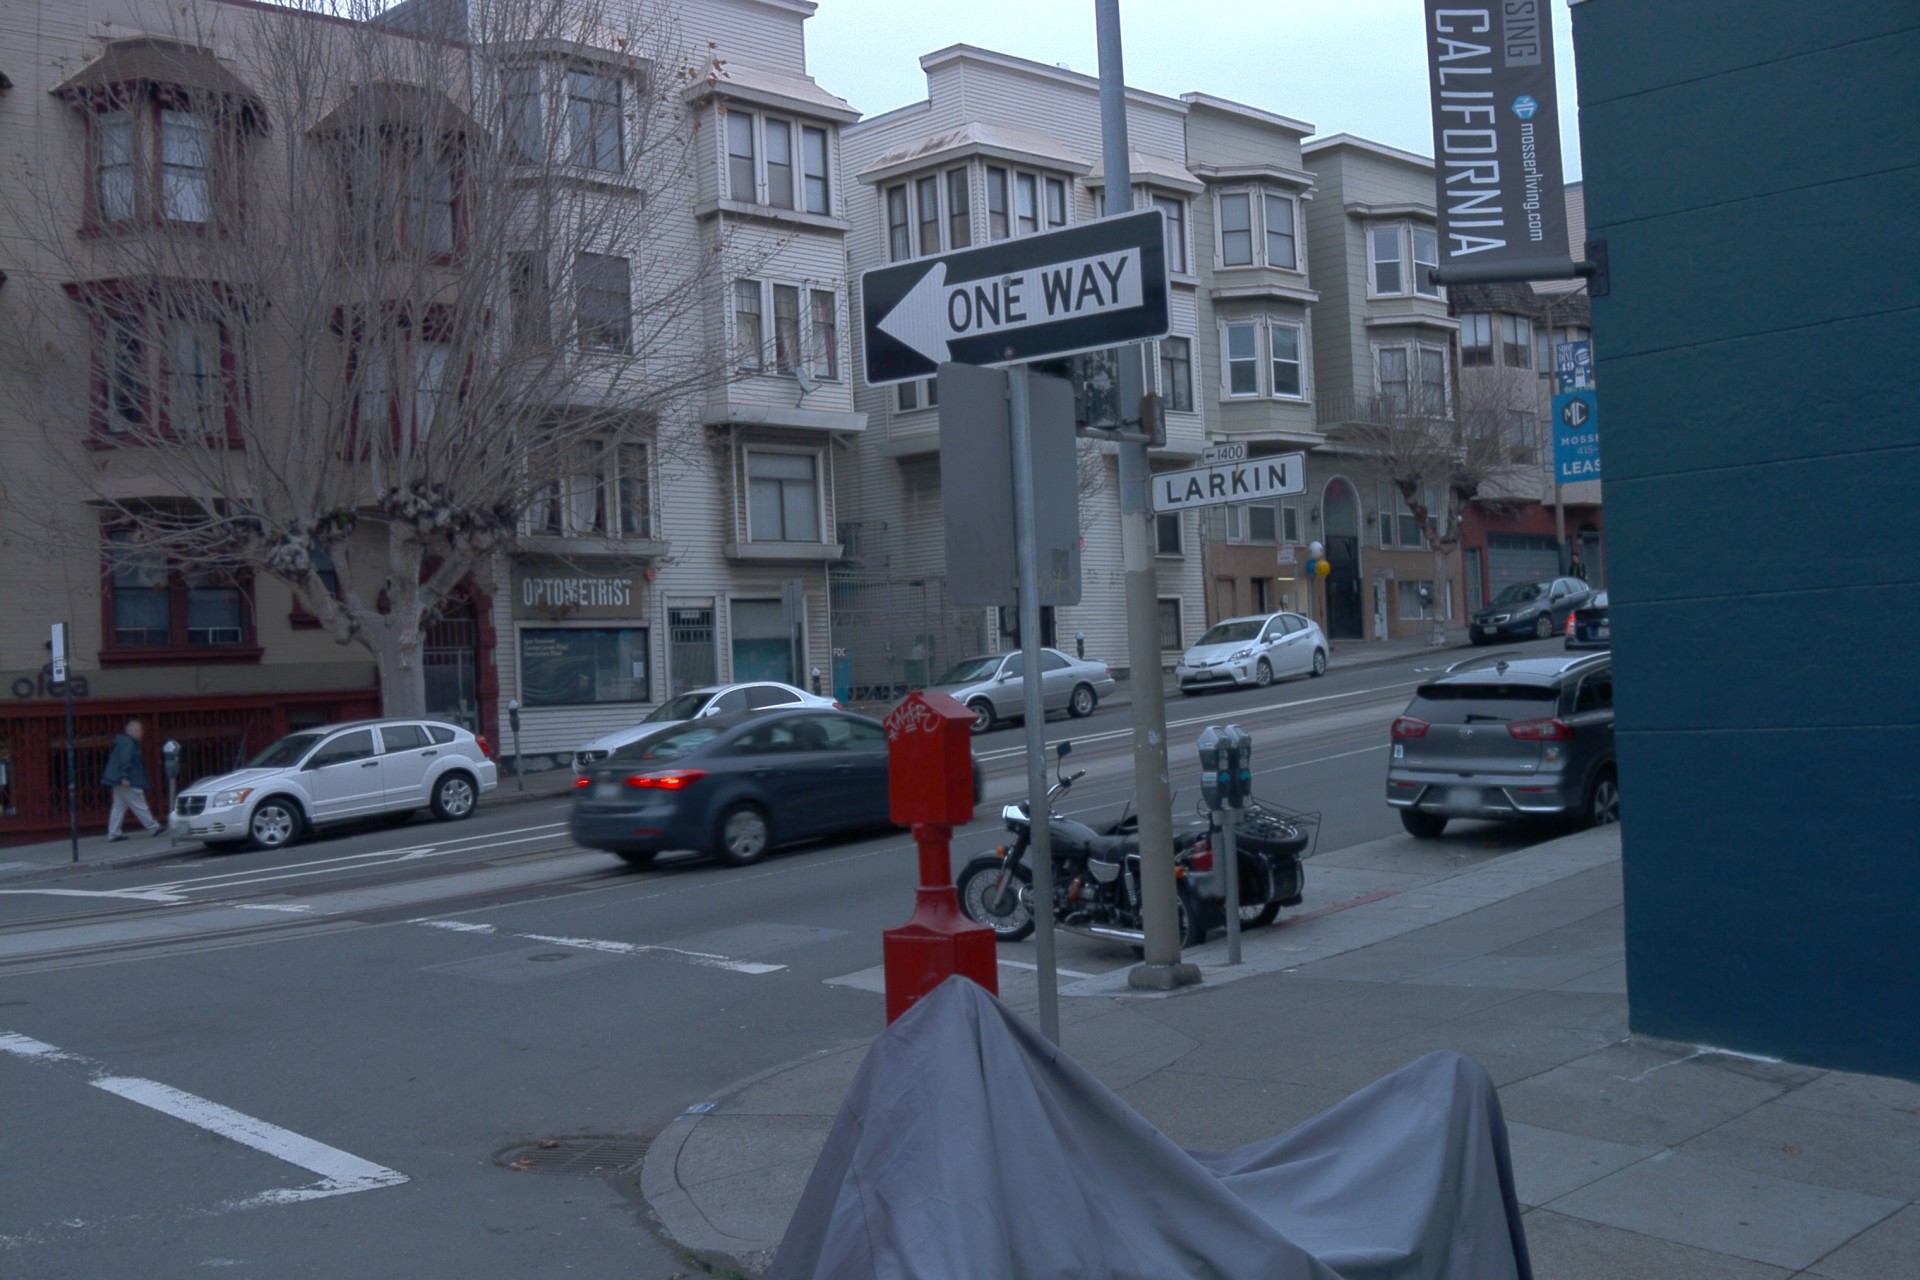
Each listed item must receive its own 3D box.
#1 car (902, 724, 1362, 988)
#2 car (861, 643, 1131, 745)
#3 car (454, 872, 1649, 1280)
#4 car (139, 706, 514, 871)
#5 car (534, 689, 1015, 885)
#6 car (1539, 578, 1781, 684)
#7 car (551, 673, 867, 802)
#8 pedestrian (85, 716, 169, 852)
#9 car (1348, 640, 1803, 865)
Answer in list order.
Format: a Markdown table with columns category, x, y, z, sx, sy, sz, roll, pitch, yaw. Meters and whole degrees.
| category | x | y | z | sx | sy | sz | roll | pitch | yaw |
| --- | --- | --- | --- | --- | --- | --- | --- | --- | --- |
| car | 1.133 | 1.376 | 14.055 | 2.745 | 1.460 | 1.540 | 0 | 1 | 42 |
| car | 0.712 | 0.913 | 37.121 | 4.801 | 1.657 | 2.084 | -1 | 1 | -45 |
| car | 0.332 | 1.392 | 4.286 | 2.490 | 1.520 | 1.048 | -1 | 1 | -44 |
| car | -8.482 | 1.914 | 27.920 | 2.053 | 1.847 | 4.407 | 1 | 1 | 44 |
| car | -1.769 | 1.375 | 20.848 | 2.086 | 1.600 | 4.565 | 1 | 1 | 45 |
| car | 11.793 | -0.166 | 34.643 | 2.078 | 1.660 | 4.518 | 1 | 1 | 44 |
| car | -3.872 | 1.461 | 32.361 | 4.589 | 1.757 | 2.074 | -1 | 1 | -44 |
| pedestrian | -11.795 | 2.021 | 29.241 | 0.901 | 1.830 | 0.921 | -1 | 1 | -36 |
| car | 5.645 | 0.880 | 18.584 | 2.132 | 1.717 | 4.606 | 0 | 1 | 42 |
